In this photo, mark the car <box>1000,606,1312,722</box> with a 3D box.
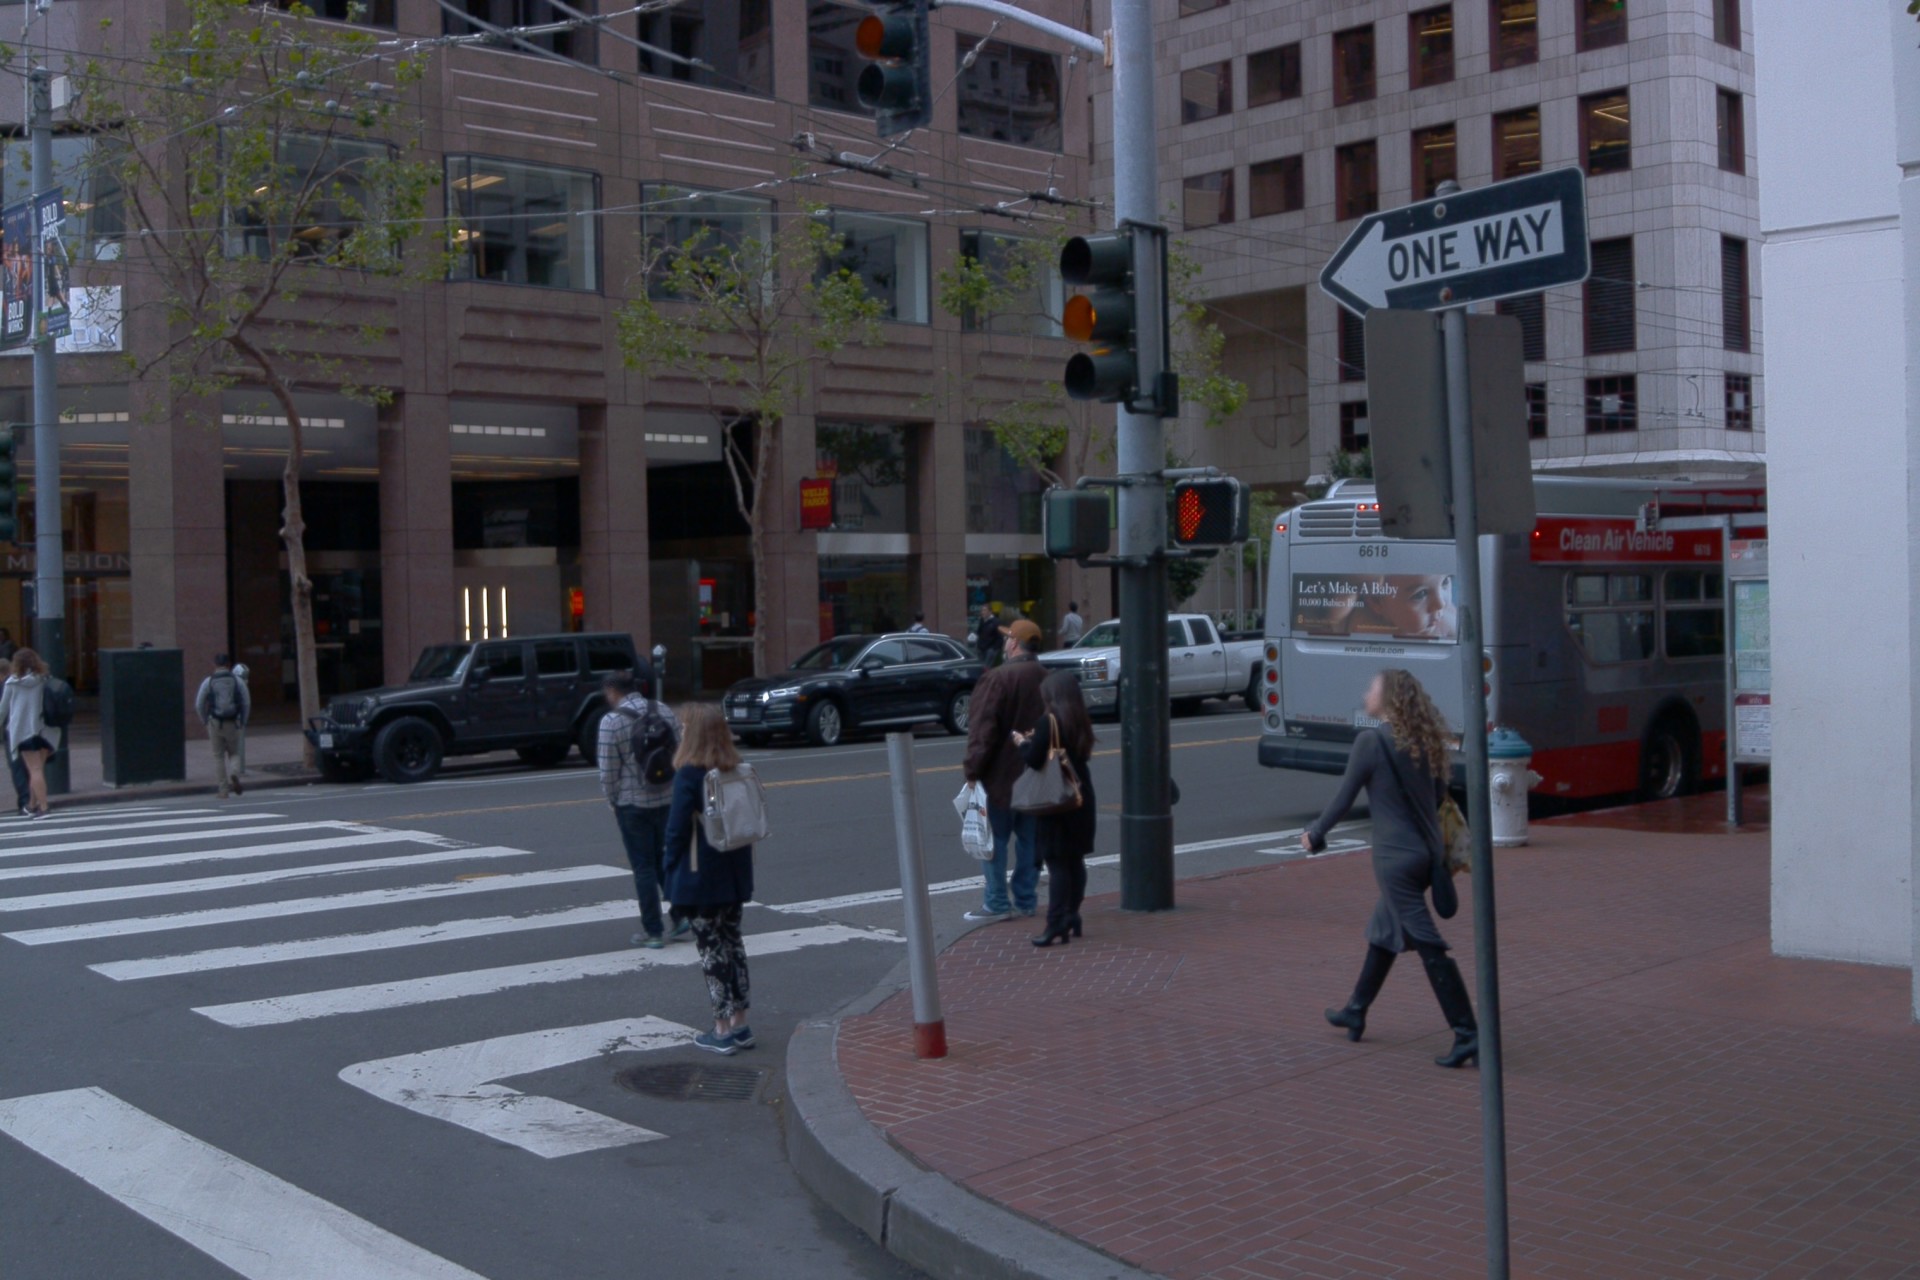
[{"bbox_3d":[3.572,0.360,36.565,2.385,1.890,5.778,0,1,45],"label":"car"}]

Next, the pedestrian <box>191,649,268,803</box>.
[{"bbox_3d":[-8.741,1.008,24.590,0.779,1.775,1.055,0,0,-24],"label":"pedestrian"}]

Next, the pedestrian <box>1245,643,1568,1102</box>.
[{"bbox_3d":[1.824,0.881,8.435,0.841,1.726,0.975,0,0,-39],"label":"pedestrian"}]

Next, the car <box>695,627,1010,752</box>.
[{"bbox_3d":[-1.599,0.698,31.759,4.539,1.770,2.126,-1,1,-43],"label":"car"}]

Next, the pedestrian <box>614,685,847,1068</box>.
[{"bbox_3d":[-1.140,1.105,10.106,0.748,1.726,0.990,0,0,-35],"label":"pedestrian"}]

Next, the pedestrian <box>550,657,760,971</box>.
[{"bbox_3d":[-1.888,1.027,12.701,1.066,1.816,0.777,0,0,43],"label":"pedestrian"}]

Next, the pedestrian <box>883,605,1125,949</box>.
[{"bbox_3d":[0.258,0.778,12.519,0.950,1.968,1.152,0,0,-39],"label":"pedestrian"}]

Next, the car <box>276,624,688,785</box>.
[{"bbox_3d":[-6.322,0.764,27.579,4.963,1.950,2.149,-1,1,-43],"label":"car"}]

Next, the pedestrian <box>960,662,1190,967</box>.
[{"bbox_3d":[0.643,0.939,11.636,0.869,1.606,0.971,0,0,-37],"label":"pedestrian"}]
